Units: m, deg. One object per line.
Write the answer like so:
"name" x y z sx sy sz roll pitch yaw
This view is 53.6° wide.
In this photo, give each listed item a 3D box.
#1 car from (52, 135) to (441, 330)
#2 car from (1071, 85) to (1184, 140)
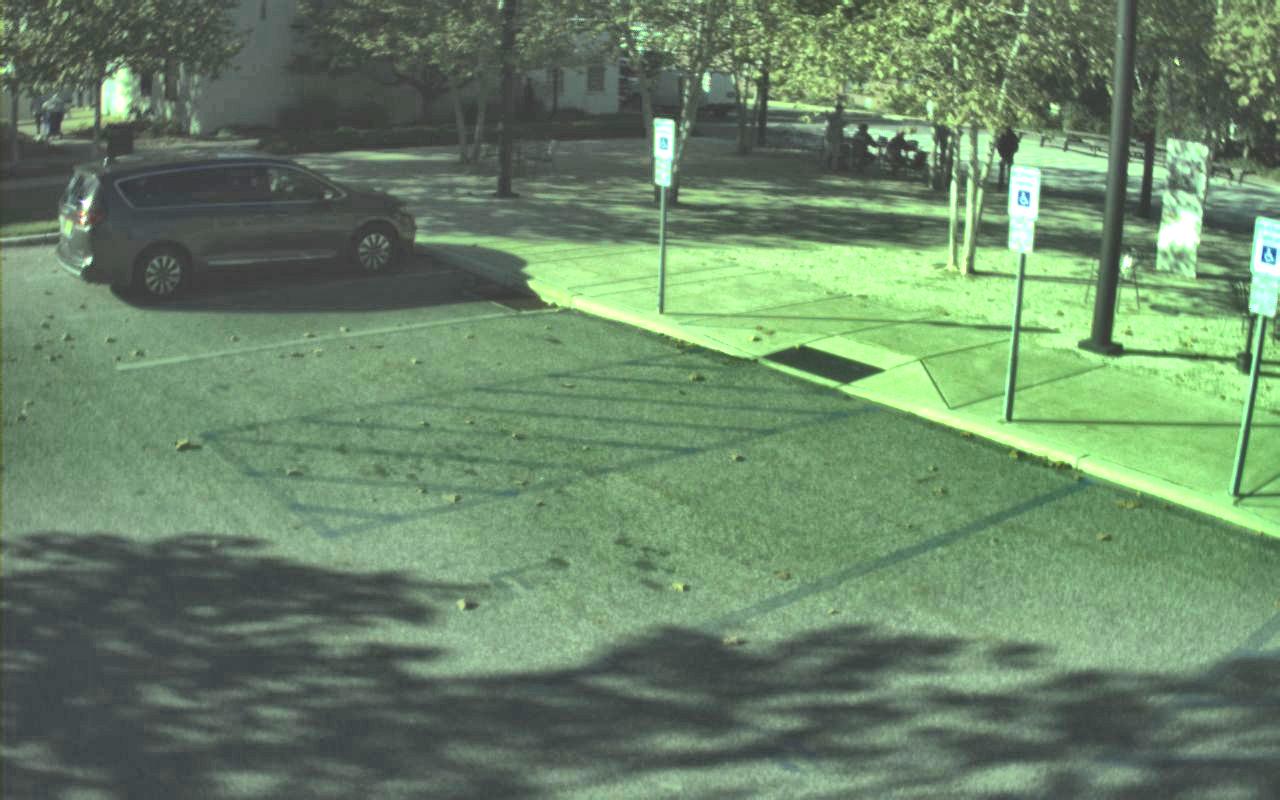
"car" -5.267 -2.348 15.930 4.957 1.724 2.058 -14 21 -37
"car" 20.050 -11.743 47.735 4.769 1.816 2.085 7 18 25
